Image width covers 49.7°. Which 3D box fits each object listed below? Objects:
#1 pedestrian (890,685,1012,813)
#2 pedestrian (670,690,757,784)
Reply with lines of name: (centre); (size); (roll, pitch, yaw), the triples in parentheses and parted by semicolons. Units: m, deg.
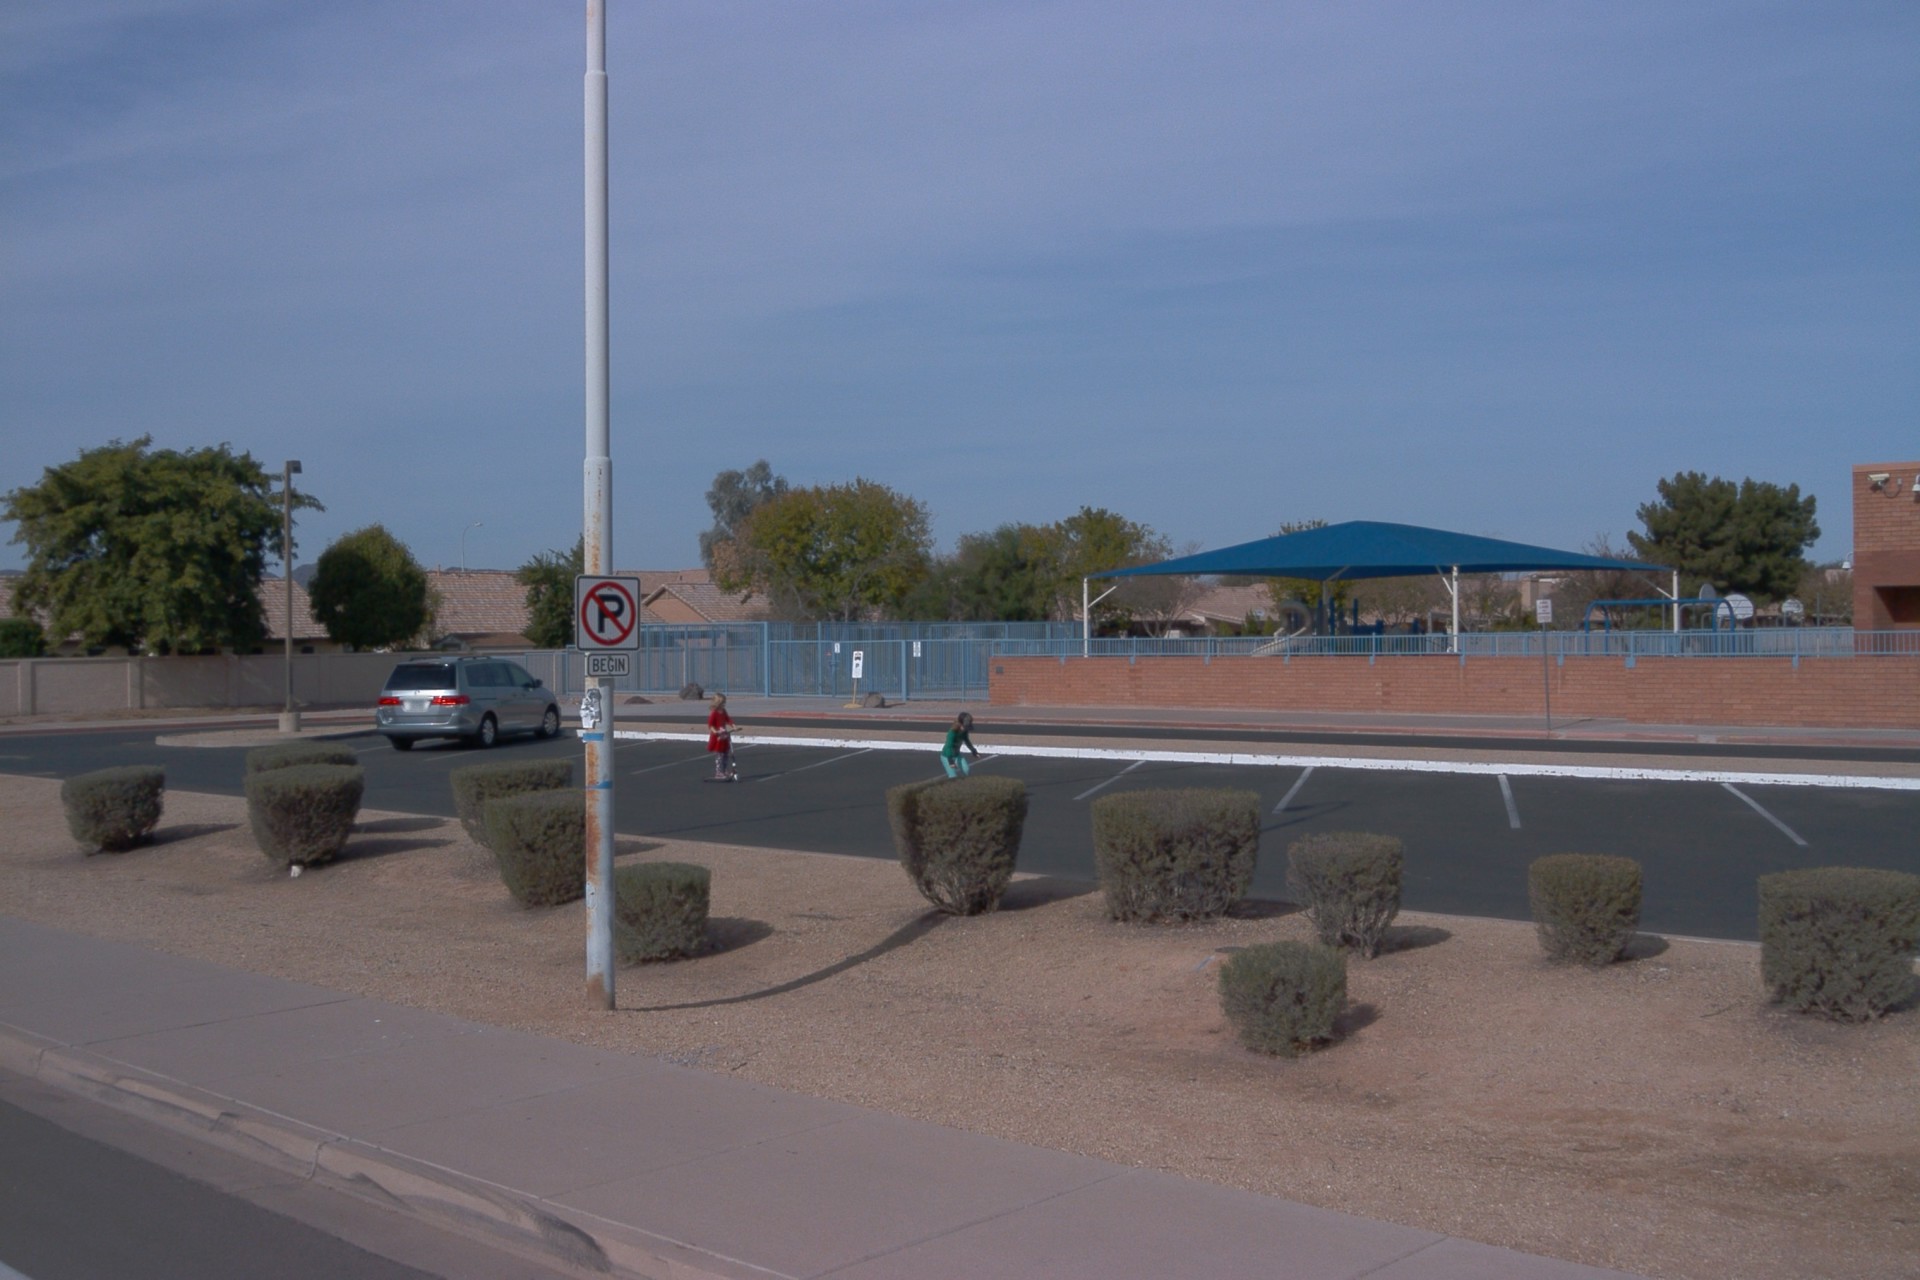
pedestrian: (-0.115, 1.332, 25.681); (0.971, 1.530, 1.170); (1, -1, -45)
pedestrian: (-3.622, 1.411, 30.457); (1.101, 1.350, 0.613); (0, -1, 21)
